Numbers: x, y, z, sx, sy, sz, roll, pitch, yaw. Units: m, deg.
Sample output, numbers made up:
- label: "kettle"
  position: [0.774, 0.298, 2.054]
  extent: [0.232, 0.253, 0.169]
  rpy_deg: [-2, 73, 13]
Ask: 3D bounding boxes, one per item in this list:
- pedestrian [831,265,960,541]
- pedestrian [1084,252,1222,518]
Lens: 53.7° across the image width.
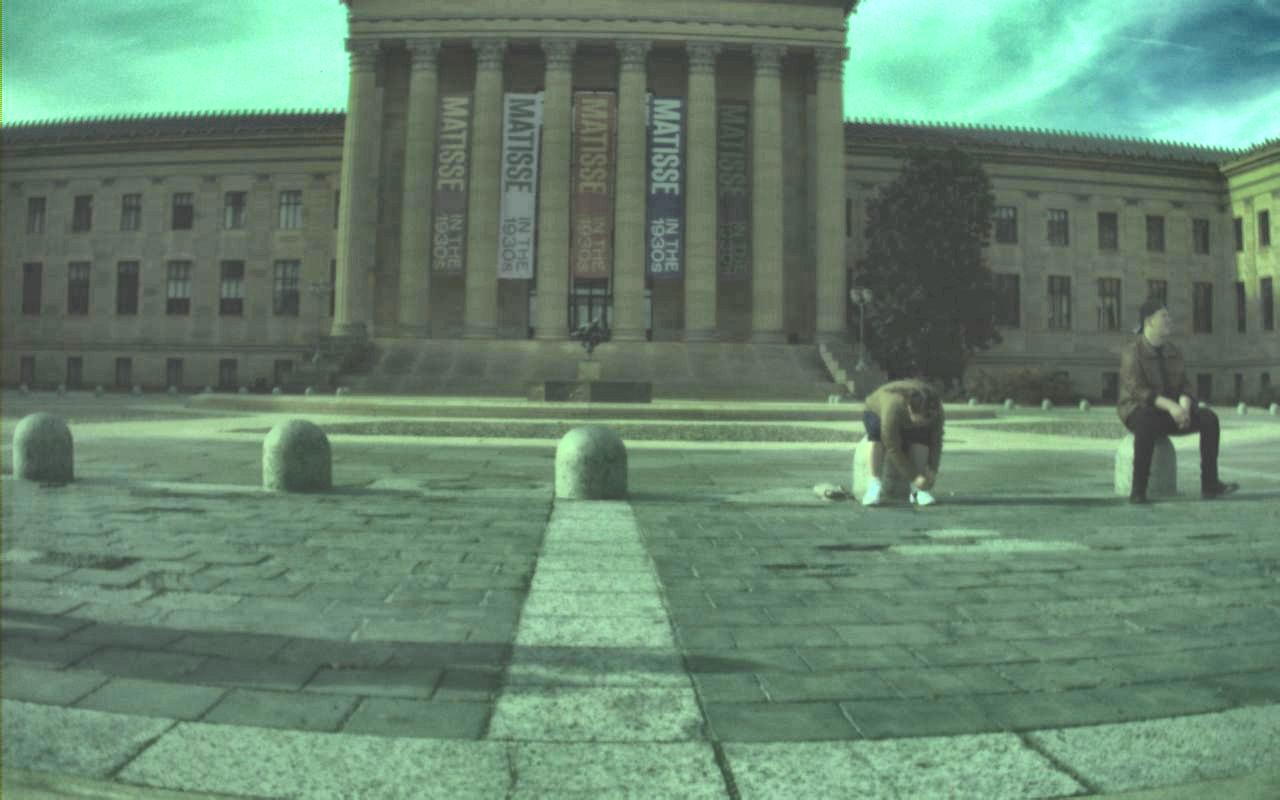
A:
- label: "pedestrian"
  position: [1.582, 0.014, 7.609]
  extent: [0.711, 1.614, 0.674]
  rpy_deg: [1, 0, 17]
- label: "pedestrian"
  position: [3.499, -0.092, 7.979]
  extent: [0.715, 1.715, 0.738]
  rpy_deg: [0, 0, -39]
